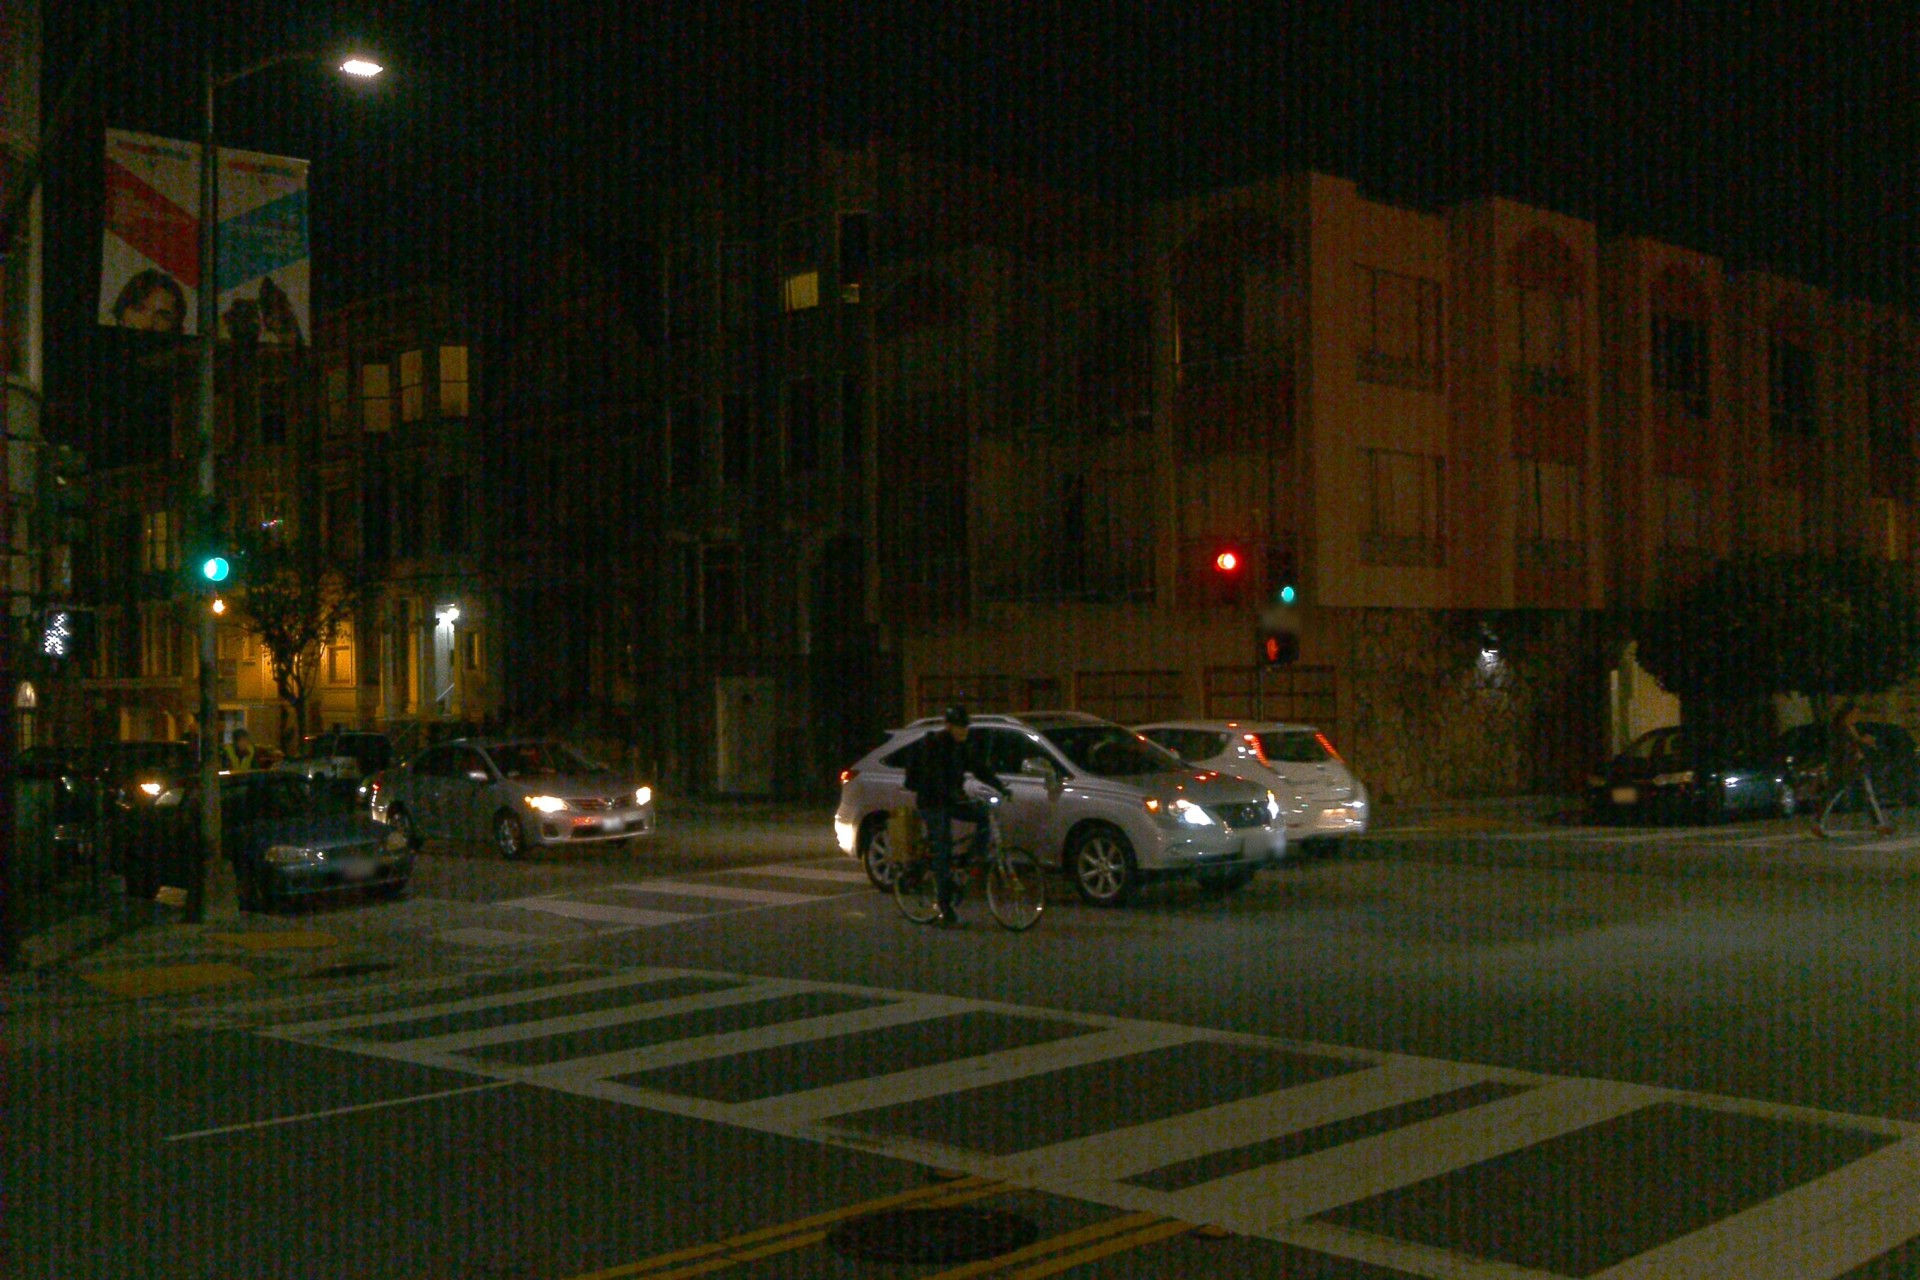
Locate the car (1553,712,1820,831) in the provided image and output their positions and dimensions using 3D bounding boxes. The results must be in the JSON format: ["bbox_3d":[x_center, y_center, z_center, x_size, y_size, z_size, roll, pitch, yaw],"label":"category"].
[{"bbox_3d":[10.600,1.840,29.960,1.967,1.430,4.633,1,0,42],"label":"car"}]

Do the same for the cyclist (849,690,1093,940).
[{"bbox_3d":[0.070,1.387,17.045,1.925,1.870,0.832,1,0,43],"label":"cyclist"}]

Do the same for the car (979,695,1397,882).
[{"bbox_3d":[2.458,1.562,23.131,1.960,1.720,4.390,1,0,-44],"label":"car"}]

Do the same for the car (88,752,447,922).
[{"bbox_3d":[-7.499,2.022,22.146,1.946,1.350,4.278,1,0,-44],"label":"car"}]

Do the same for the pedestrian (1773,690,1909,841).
[{"bbox_3d":[10.459,1.461,24.533,0.935,1.690,1.175,1,0,-42],"label":"pedestrian"}]

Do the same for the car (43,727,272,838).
[{"bbox_3d":[-13.424,2.314,34.431,2.021,1.480,4.494,1,0,-43],"label":"car"}]

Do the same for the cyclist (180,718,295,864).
[{"bbox_3d":[-9.403,1.927,26.853,0.771,1.750,1.769,1,0,-42],"label":"cyclist"}]

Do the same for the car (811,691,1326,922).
[{"bbox_3d":[0.925,1.456,19.677,4.613,1.760,2.139,1,0,45],"label":"car"}]

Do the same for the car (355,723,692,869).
[{"bbox_3d":[-5.630,1.907,26.307,2.125,1.450,4.459,1,0,-44],"label":"car"}]
